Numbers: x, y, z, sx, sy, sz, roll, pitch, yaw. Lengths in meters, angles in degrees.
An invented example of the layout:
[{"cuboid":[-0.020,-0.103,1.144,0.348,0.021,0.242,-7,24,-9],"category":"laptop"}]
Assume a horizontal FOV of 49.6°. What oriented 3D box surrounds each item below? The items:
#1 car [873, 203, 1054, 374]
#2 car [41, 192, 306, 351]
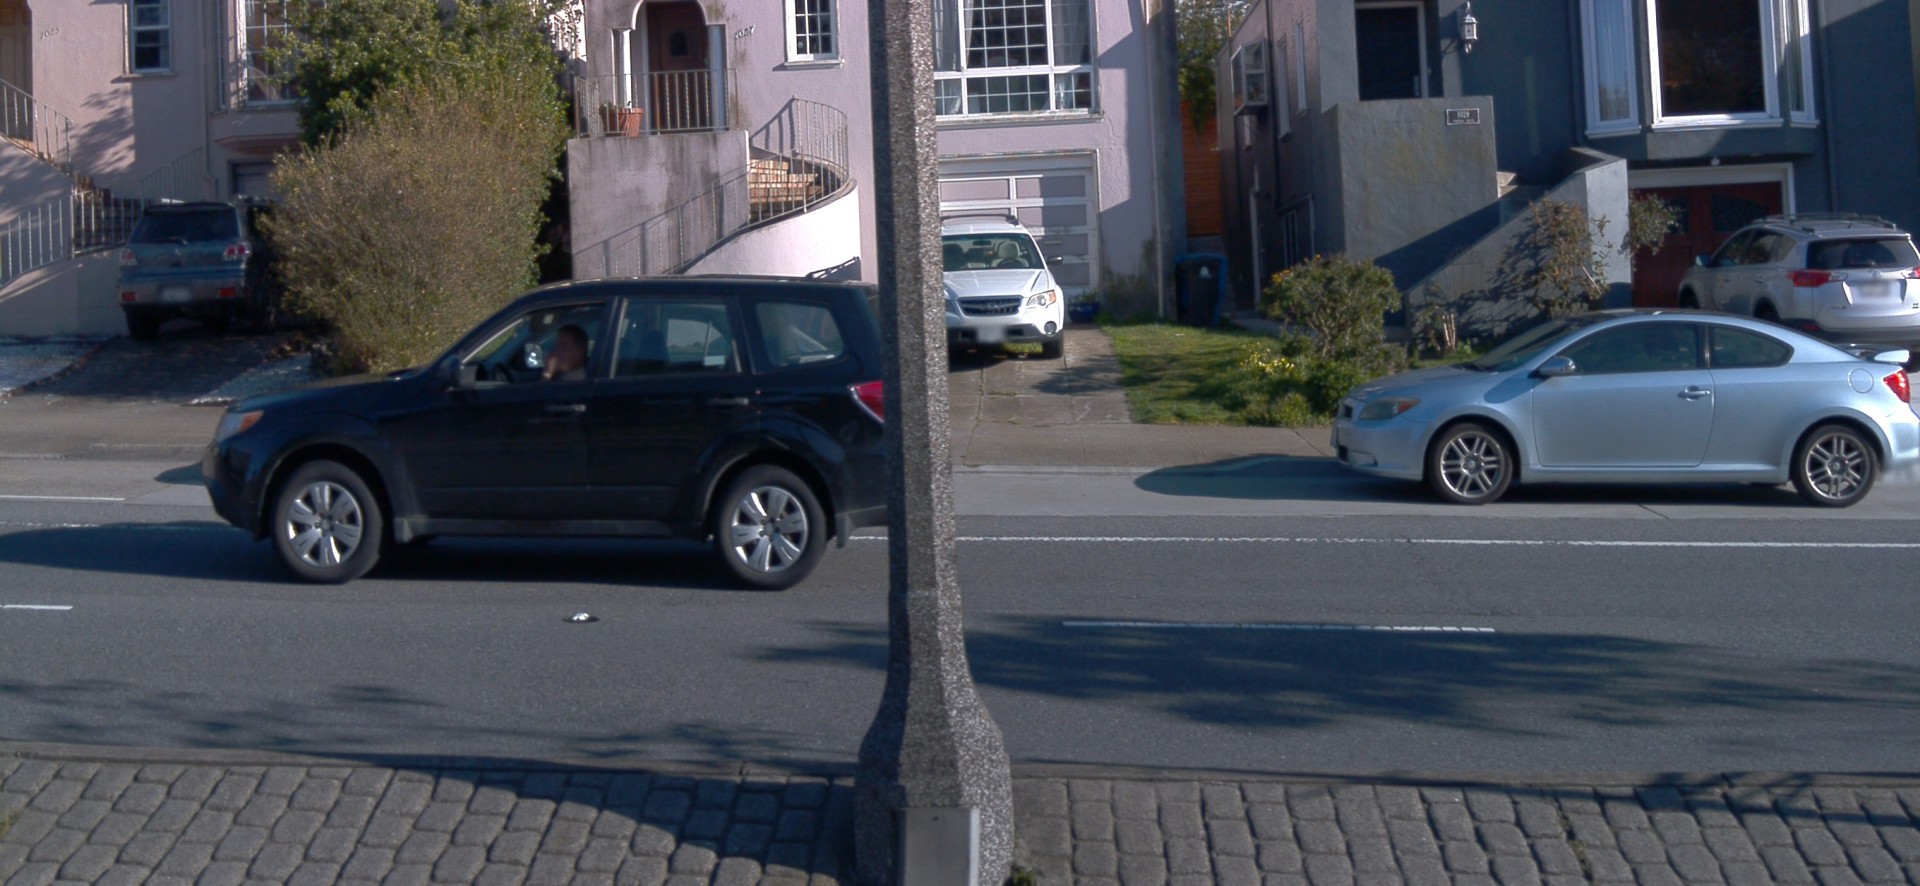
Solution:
[{"cuboid":[-0.045,-1.950,24.988,1.948,1.821,4.865,1,6,-2],"category":"car"},{"cuboid":[-9.612,-2.190,25.722,1.753,1.781,4.145,1,6,-1],"category":"car"}]
